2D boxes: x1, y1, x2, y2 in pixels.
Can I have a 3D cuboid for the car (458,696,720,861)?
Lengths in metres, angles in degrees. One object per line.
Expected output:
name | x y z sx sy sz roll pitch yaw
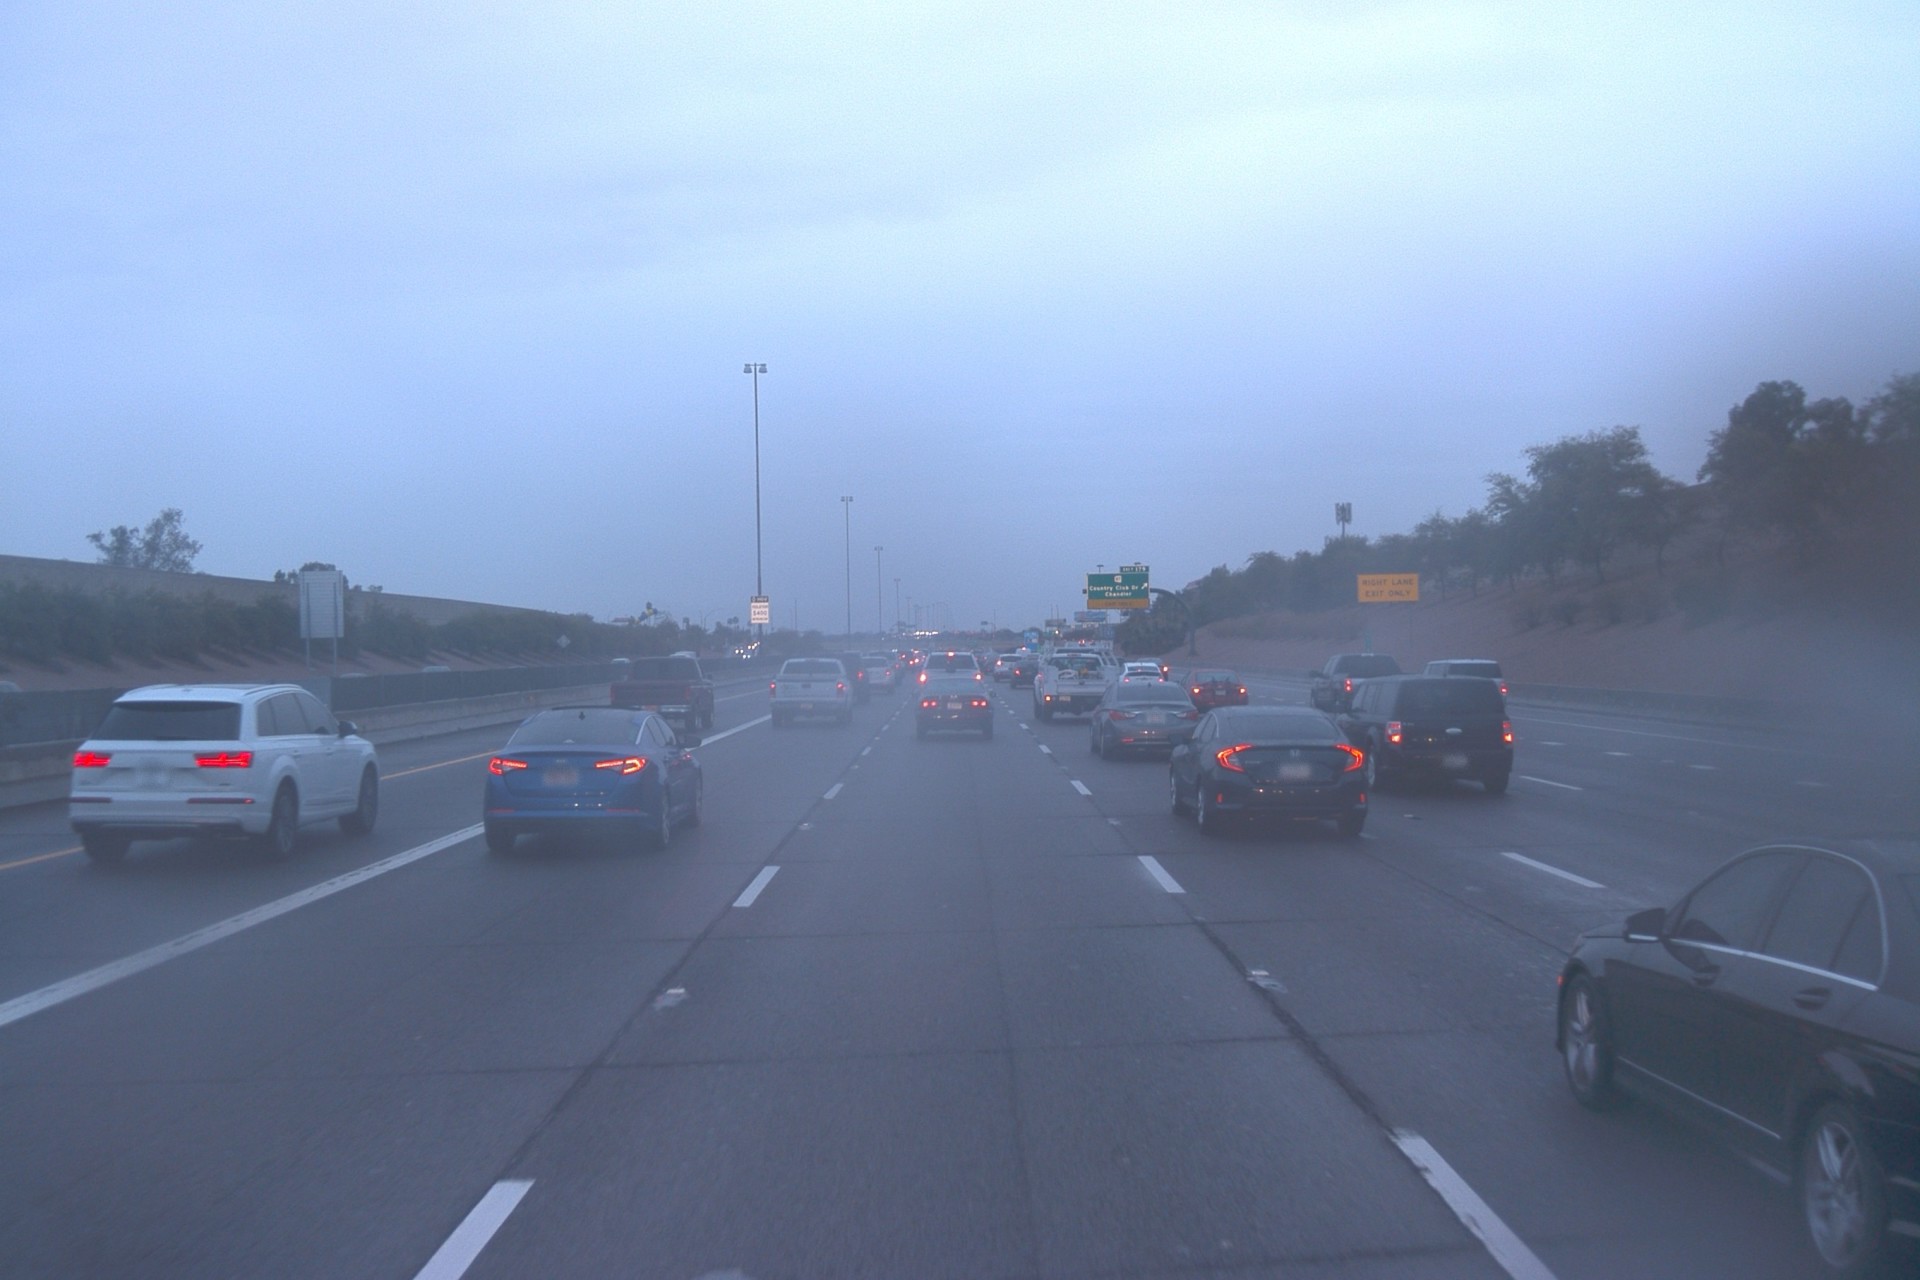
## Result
car | -3.894 1.414 22.579 1.988 1.510 4.517 0 0 1

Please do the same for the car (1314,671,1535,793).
car | 6.817 1.304 31.061 2.228 1.630 4.896 0 0 0

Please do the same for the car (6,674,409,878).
car | -7.567 1.285 21.587 2.303 1.810 5.259 0 0 0

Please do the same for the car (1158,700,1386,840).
car | 3.511 1.436 24.172 1.973 1.380 4.335 0 0 0
